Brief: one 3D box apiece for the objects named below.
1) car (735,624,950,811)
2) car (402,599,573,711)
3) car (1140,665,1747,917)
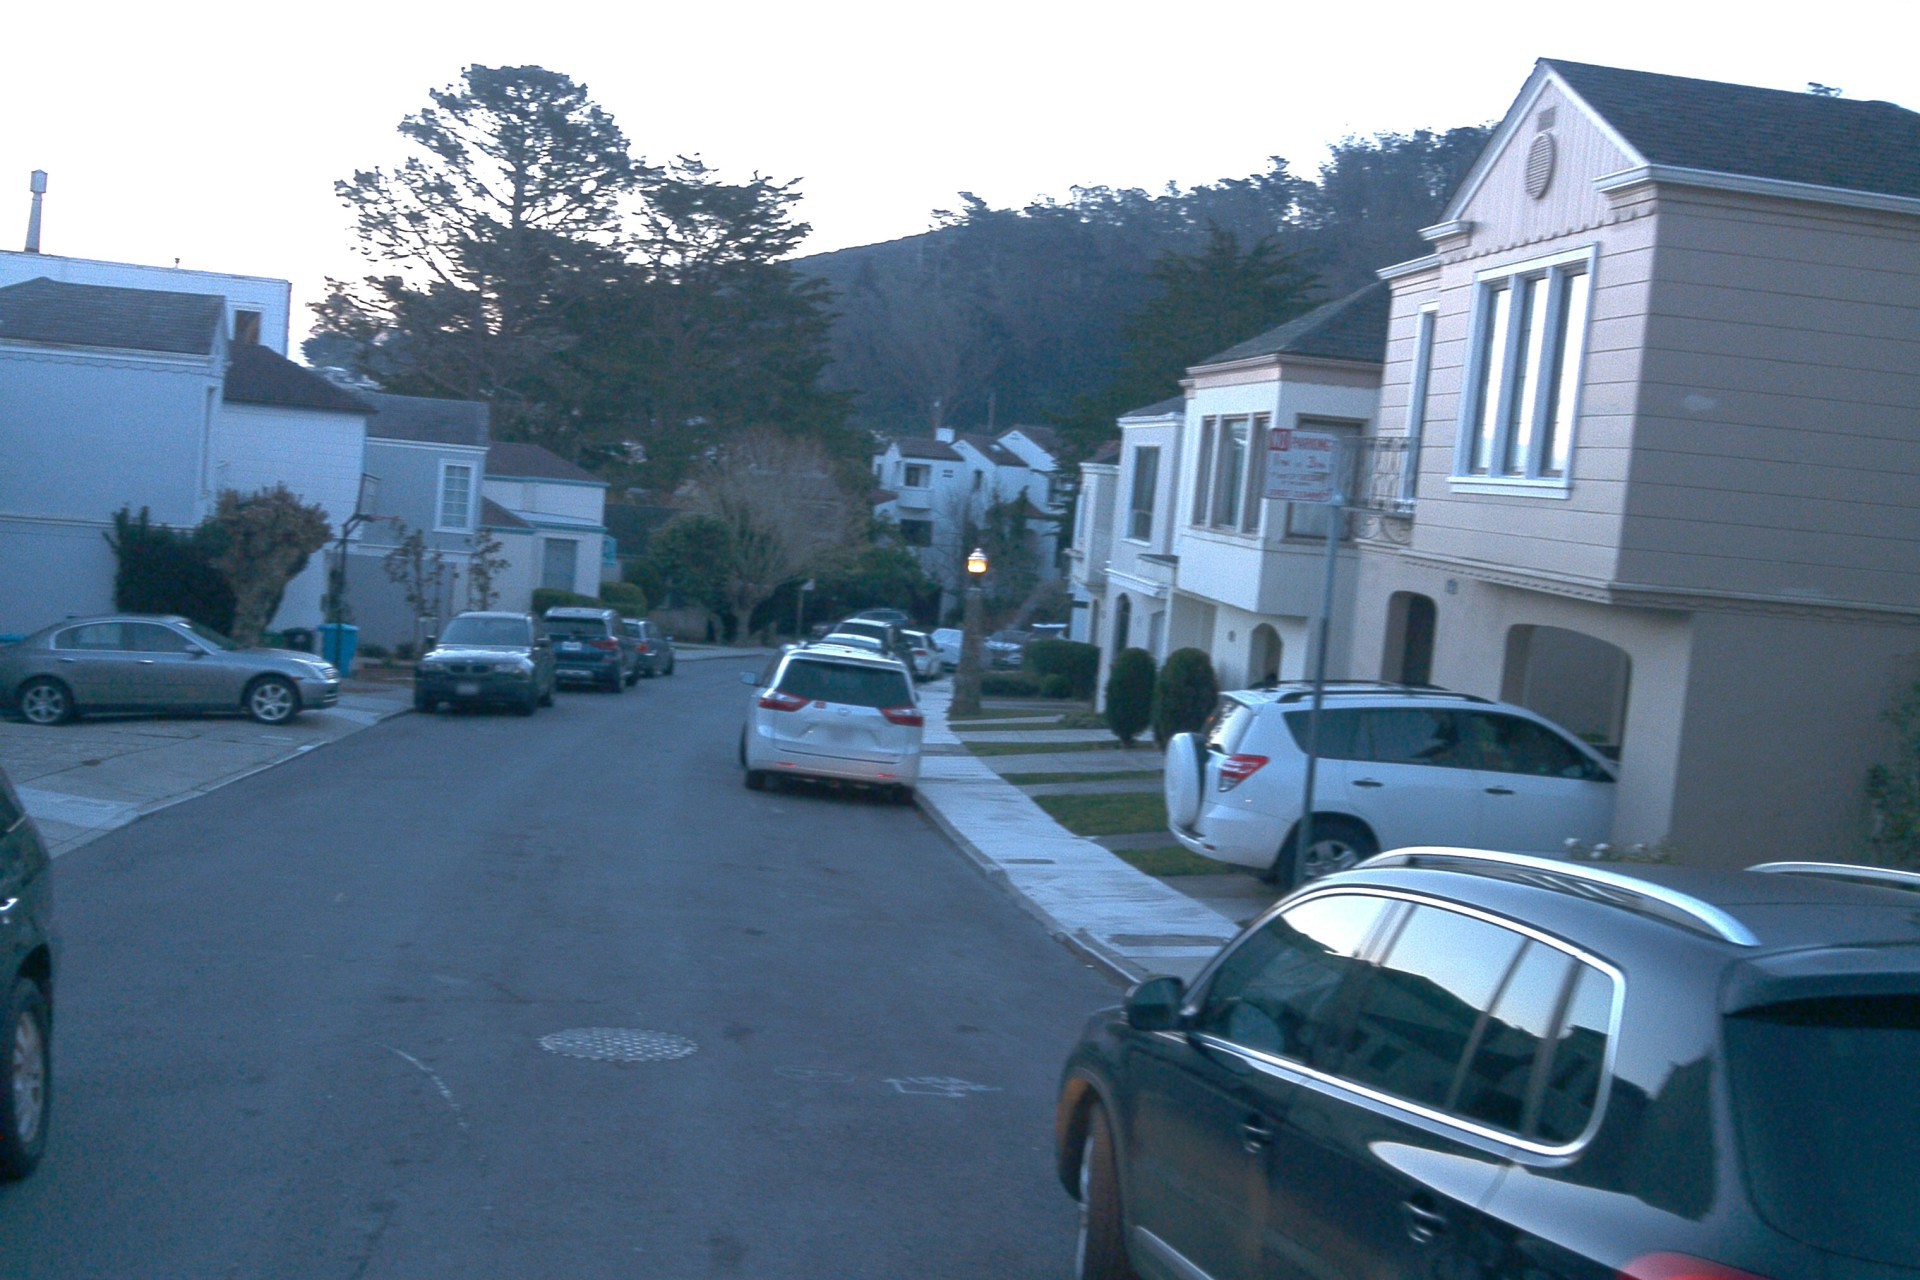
[{"bbox_3d":[-1.565,0.869,25.438,2.374,2.050,5.078,0,0,-6],"label":"car"},{"bbox_3d":[-7.757,0.250,34.430,2.094,1.740,4.529,0,0,-4],"label":"car"},{"bbox_3d":[3.742,1.135,16.533,4.323,1.860,1.951,0,0,-5],"label":"car"}]
